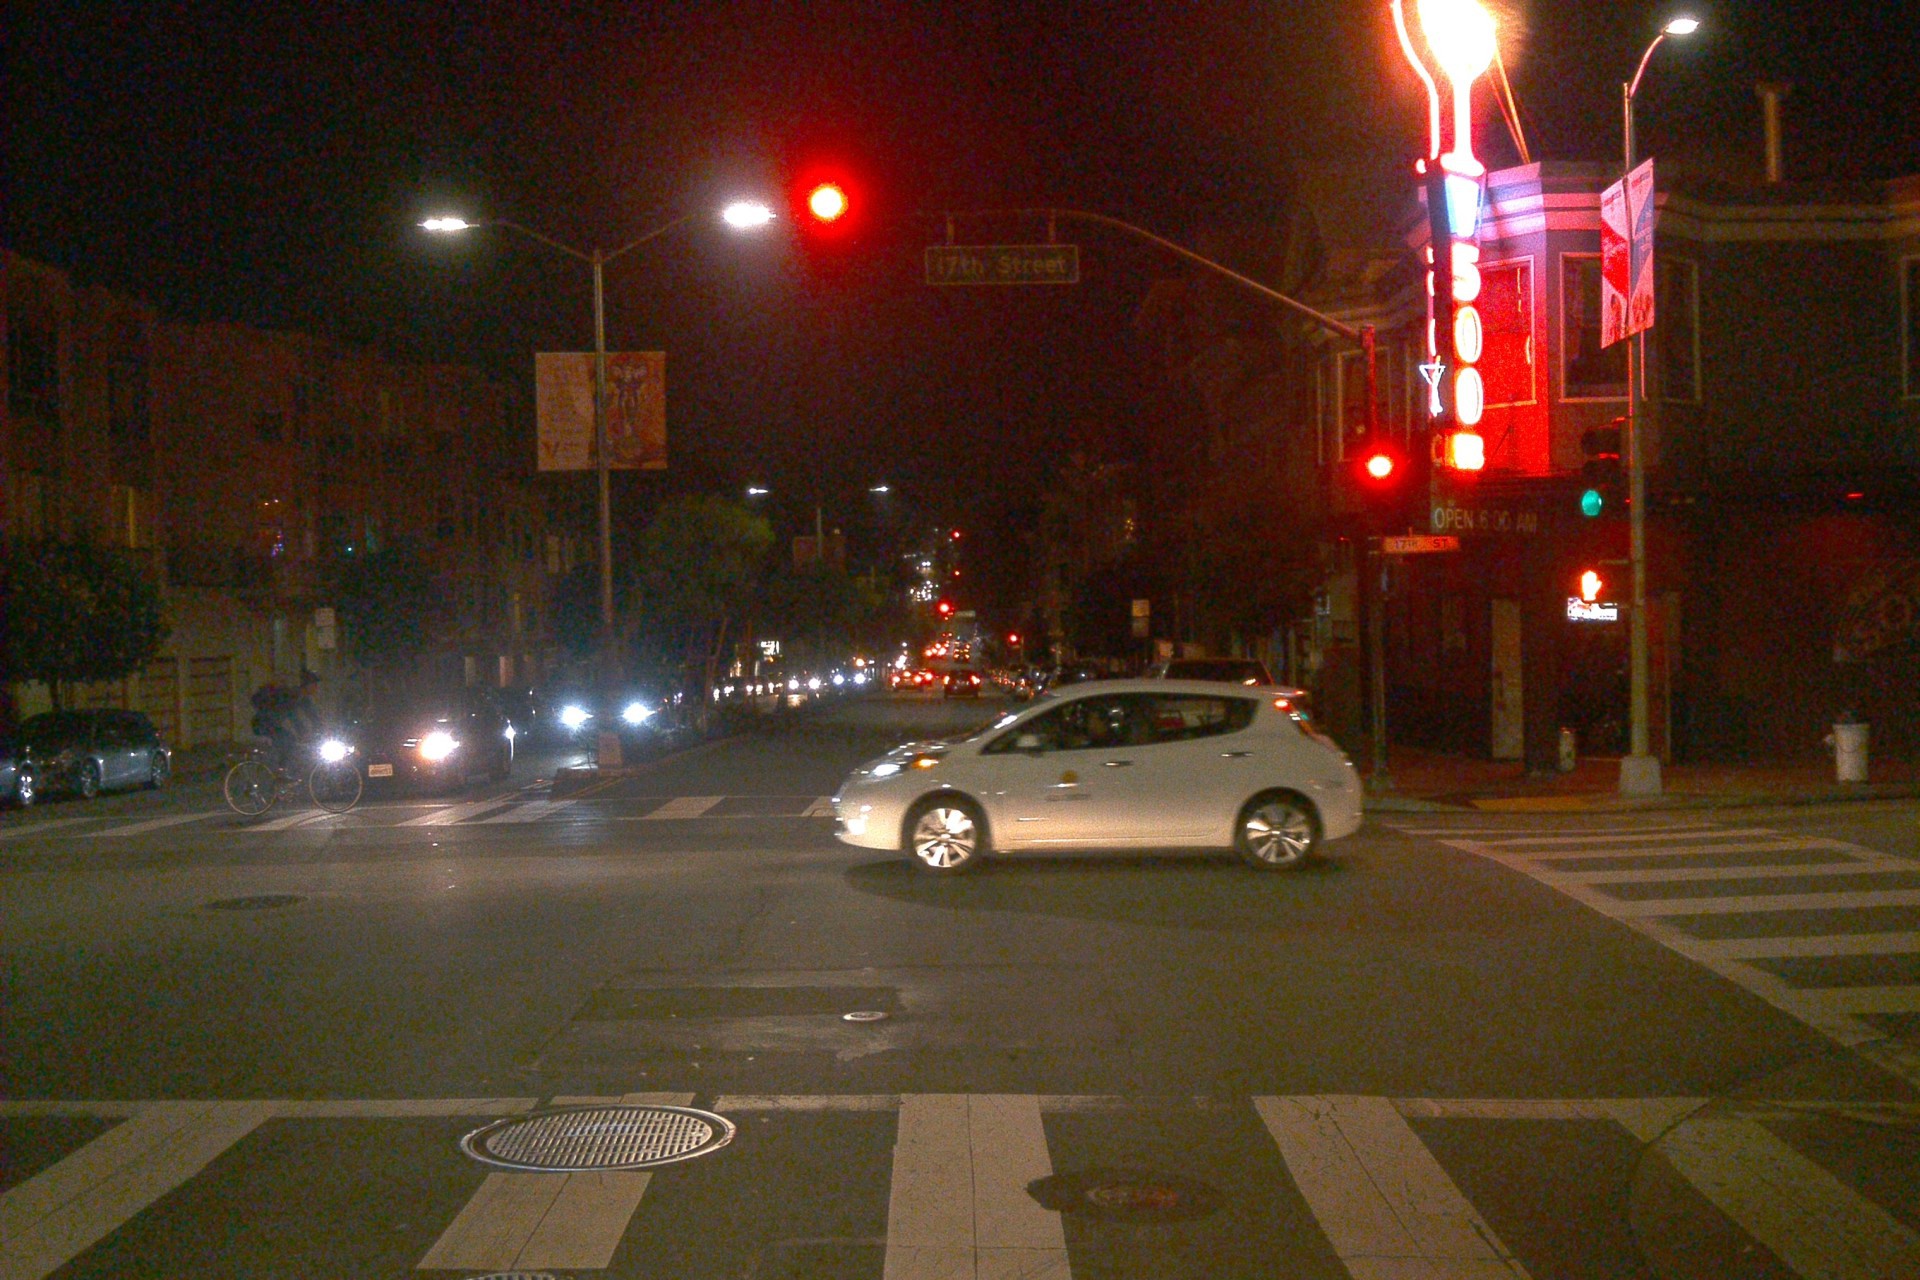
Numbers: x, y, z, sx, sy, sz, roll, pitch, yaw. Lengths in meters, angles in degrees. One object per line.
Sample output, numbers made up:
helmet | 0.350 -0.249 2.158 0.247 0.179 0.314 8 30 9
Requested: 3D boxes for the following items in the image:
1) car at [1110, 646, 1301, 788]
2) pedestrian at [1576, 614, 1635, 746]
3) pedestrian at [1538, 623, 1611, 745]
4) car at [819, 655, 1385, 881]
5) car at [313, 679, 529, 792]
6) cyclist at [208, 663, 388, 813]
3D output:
car | 3.288 0.983 28.470 2.087 1.770 4.655 1 0 0
pedestrian | 9.051 0.559 28.829 0.739 1.820 0.628 1 0 20
pedestrian | 8.814 0.625 29.499 0.721 1.720 0.691 1 0 -18
car | 1.137 1.015 17.223 4.443 1.720 1.937 1 0 1
car | -7.621 1.305 29.508 1.903 1.390 4.511 1 0 0
cyclist | -8.046 1.180 25.043 1.915 1.760 0.823 1 0 1
